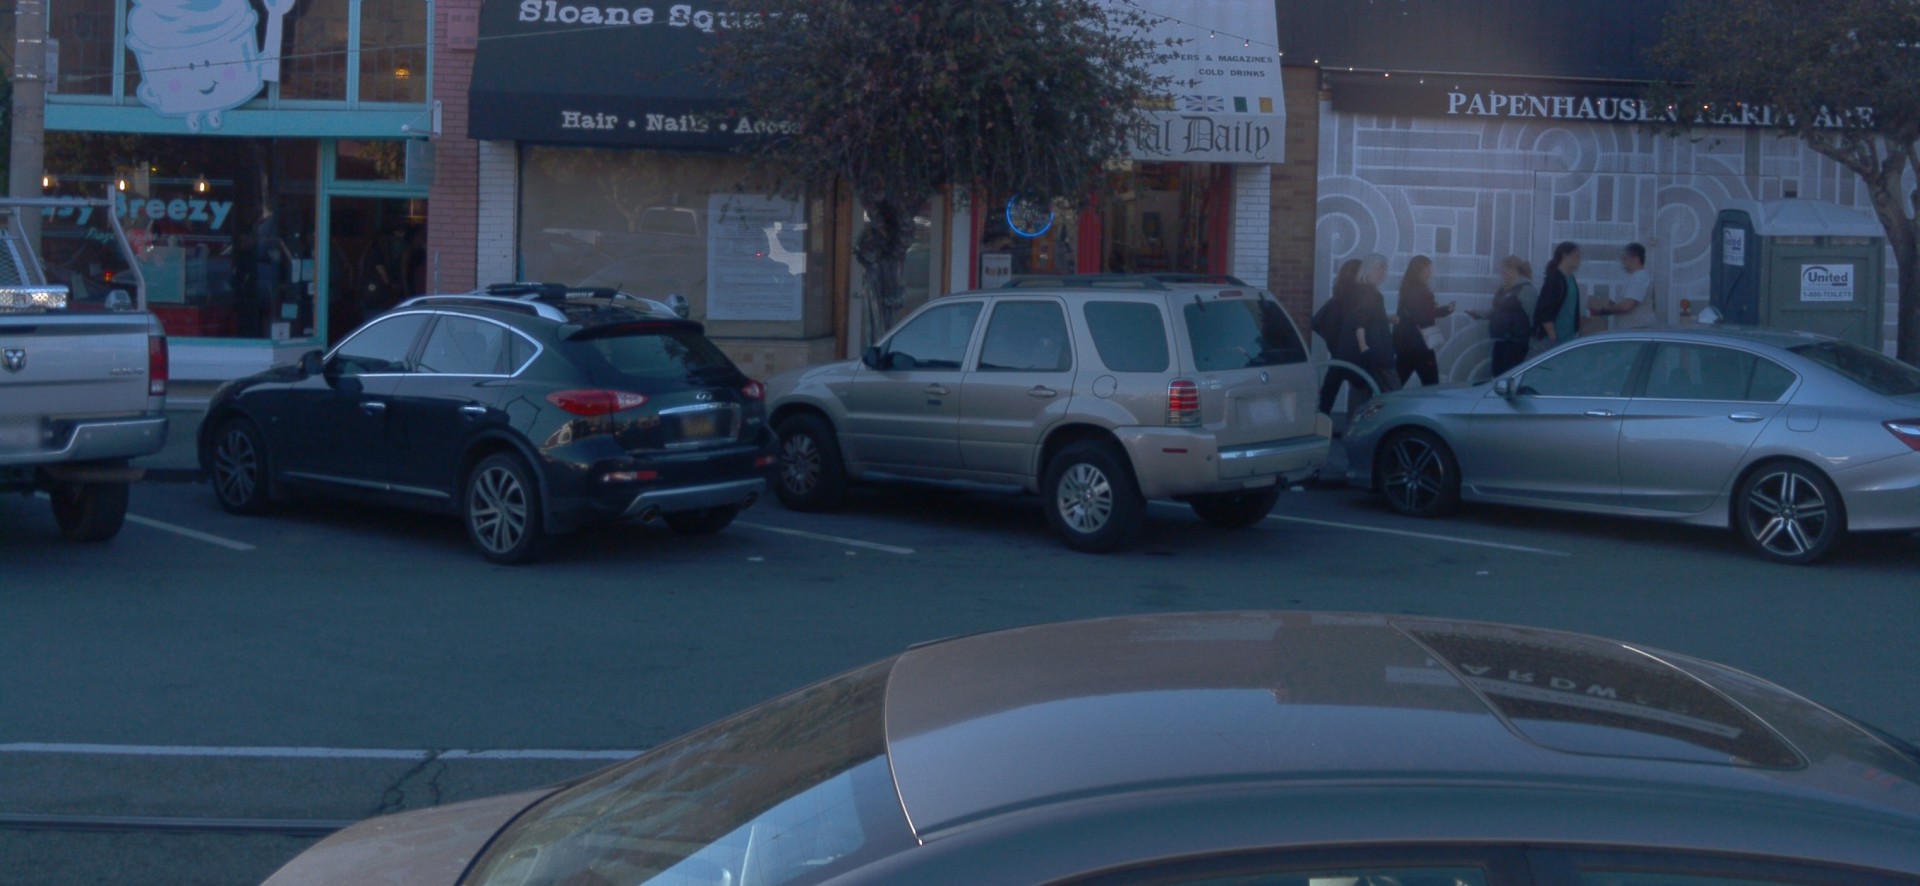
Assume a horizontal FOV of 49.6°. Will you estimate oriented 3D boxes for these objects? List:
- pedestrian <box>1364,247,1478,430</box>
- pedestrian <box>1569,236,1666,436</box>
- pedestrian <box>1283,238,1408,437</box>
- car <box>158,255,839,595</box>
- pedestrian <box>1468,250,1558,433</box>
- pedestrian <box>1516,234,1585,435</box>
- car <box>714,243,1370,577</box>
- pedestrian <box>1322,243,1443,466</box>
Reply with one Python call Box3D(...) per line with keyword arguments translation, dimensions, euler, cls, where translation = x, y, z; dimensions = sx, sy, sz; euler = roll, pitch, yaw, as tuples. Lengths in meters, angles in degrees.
Box3D(translation=(4.238, -0.977, 19.132), dimensions=(0.834, 1.637, 0.719), euler=(1, 2, -4), cls="pedestrian")
Box3D(translation=(6.216, -1.037, 19.672), dimensions=(0.728, 1.816, 0.926), euler=(1, 2, 9), cls="pedestrian")
Box3D(translation=(3.469, -0.971, 18.748), dimensions=(0.899, 1.737, 0.801), euler=(1, 2, -6), cls="pedestrian")
Box3D(translation=(-3.219, -0.302, 14.037), dimensions=(4.523, 1.793, 2.116), euler=(5, 6, 39), cls="car")
Box3D(translation=(5.322, -0.995, 20.005), dimensions=(0.712, 1.707, 0.694), euler=(1, 2, 5), cls="pedestrian")
Box3D(translation=(5.460, -1.024, 19.174), dimensions=(0.558, 1.786, 0.881), euler=(1, 2, 17), cls="pedestrian")
Box3D(translation=(0.472, -0.406, 14.617), dimensions=(4.242, 1.893, 2.079), euler=(6, 6, 42), cls="car")
Box3D(translation=(3.659, -0.787, 18.044), dimensions=(0.771, 1.866, 0.910), euler=(1, 2, -6), cls="pedestrian")
